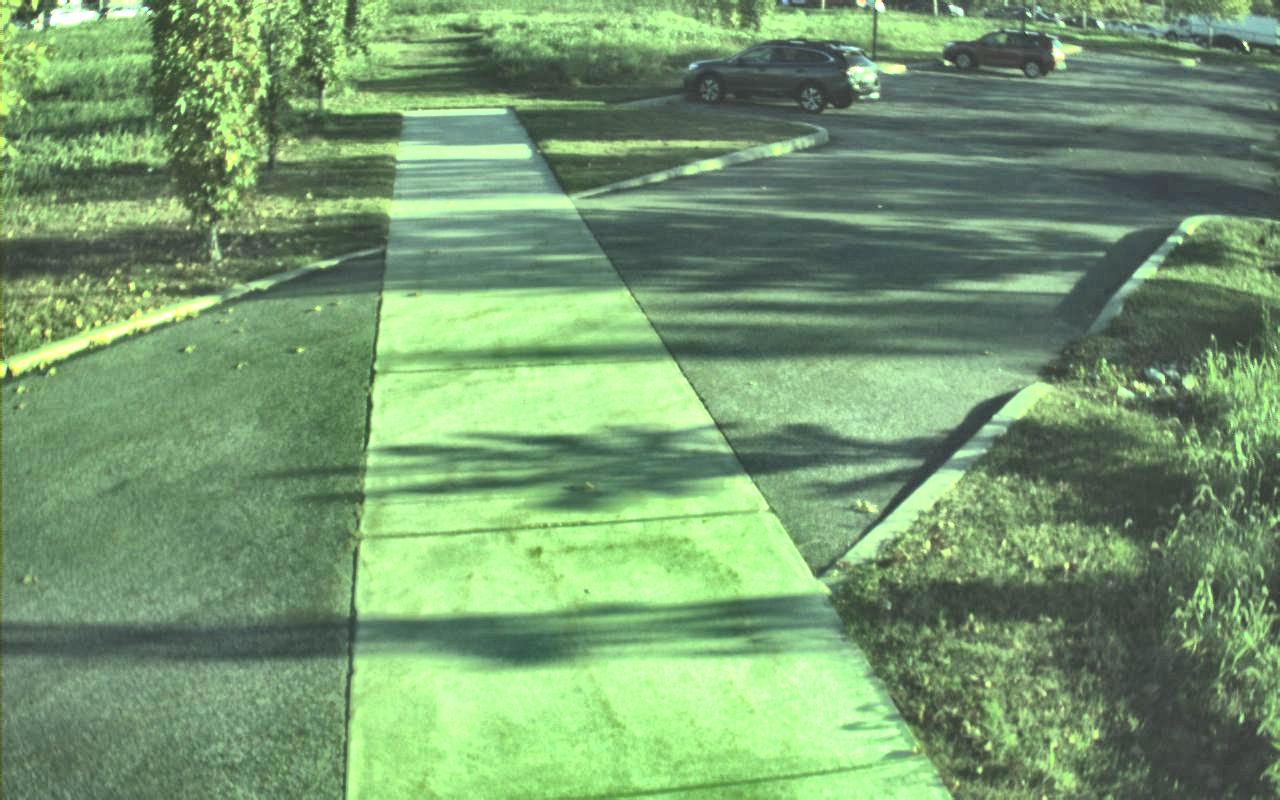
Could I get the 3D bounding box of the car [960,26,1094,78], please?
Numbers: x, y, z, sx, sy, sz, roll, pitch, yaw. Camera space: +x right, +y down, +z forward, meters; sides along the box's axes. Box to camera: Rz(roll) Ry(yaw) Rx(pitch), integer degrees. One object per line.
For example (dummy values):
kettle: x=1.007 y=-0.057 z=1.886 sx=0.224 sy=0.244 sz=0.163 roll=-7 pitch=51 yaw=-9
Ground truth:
car: x=14.285 y=-12.752 z=43.551 sx=4.752 sy=1.709 sz=2.018 roll=8 pitch=17 yaw=30

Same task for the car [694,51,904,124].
car: x=3.790 y=-7.509 z=29.425 sx=4.668 sy=1.629 sz=2.002 roll=10 pitch=19 yaw=34
